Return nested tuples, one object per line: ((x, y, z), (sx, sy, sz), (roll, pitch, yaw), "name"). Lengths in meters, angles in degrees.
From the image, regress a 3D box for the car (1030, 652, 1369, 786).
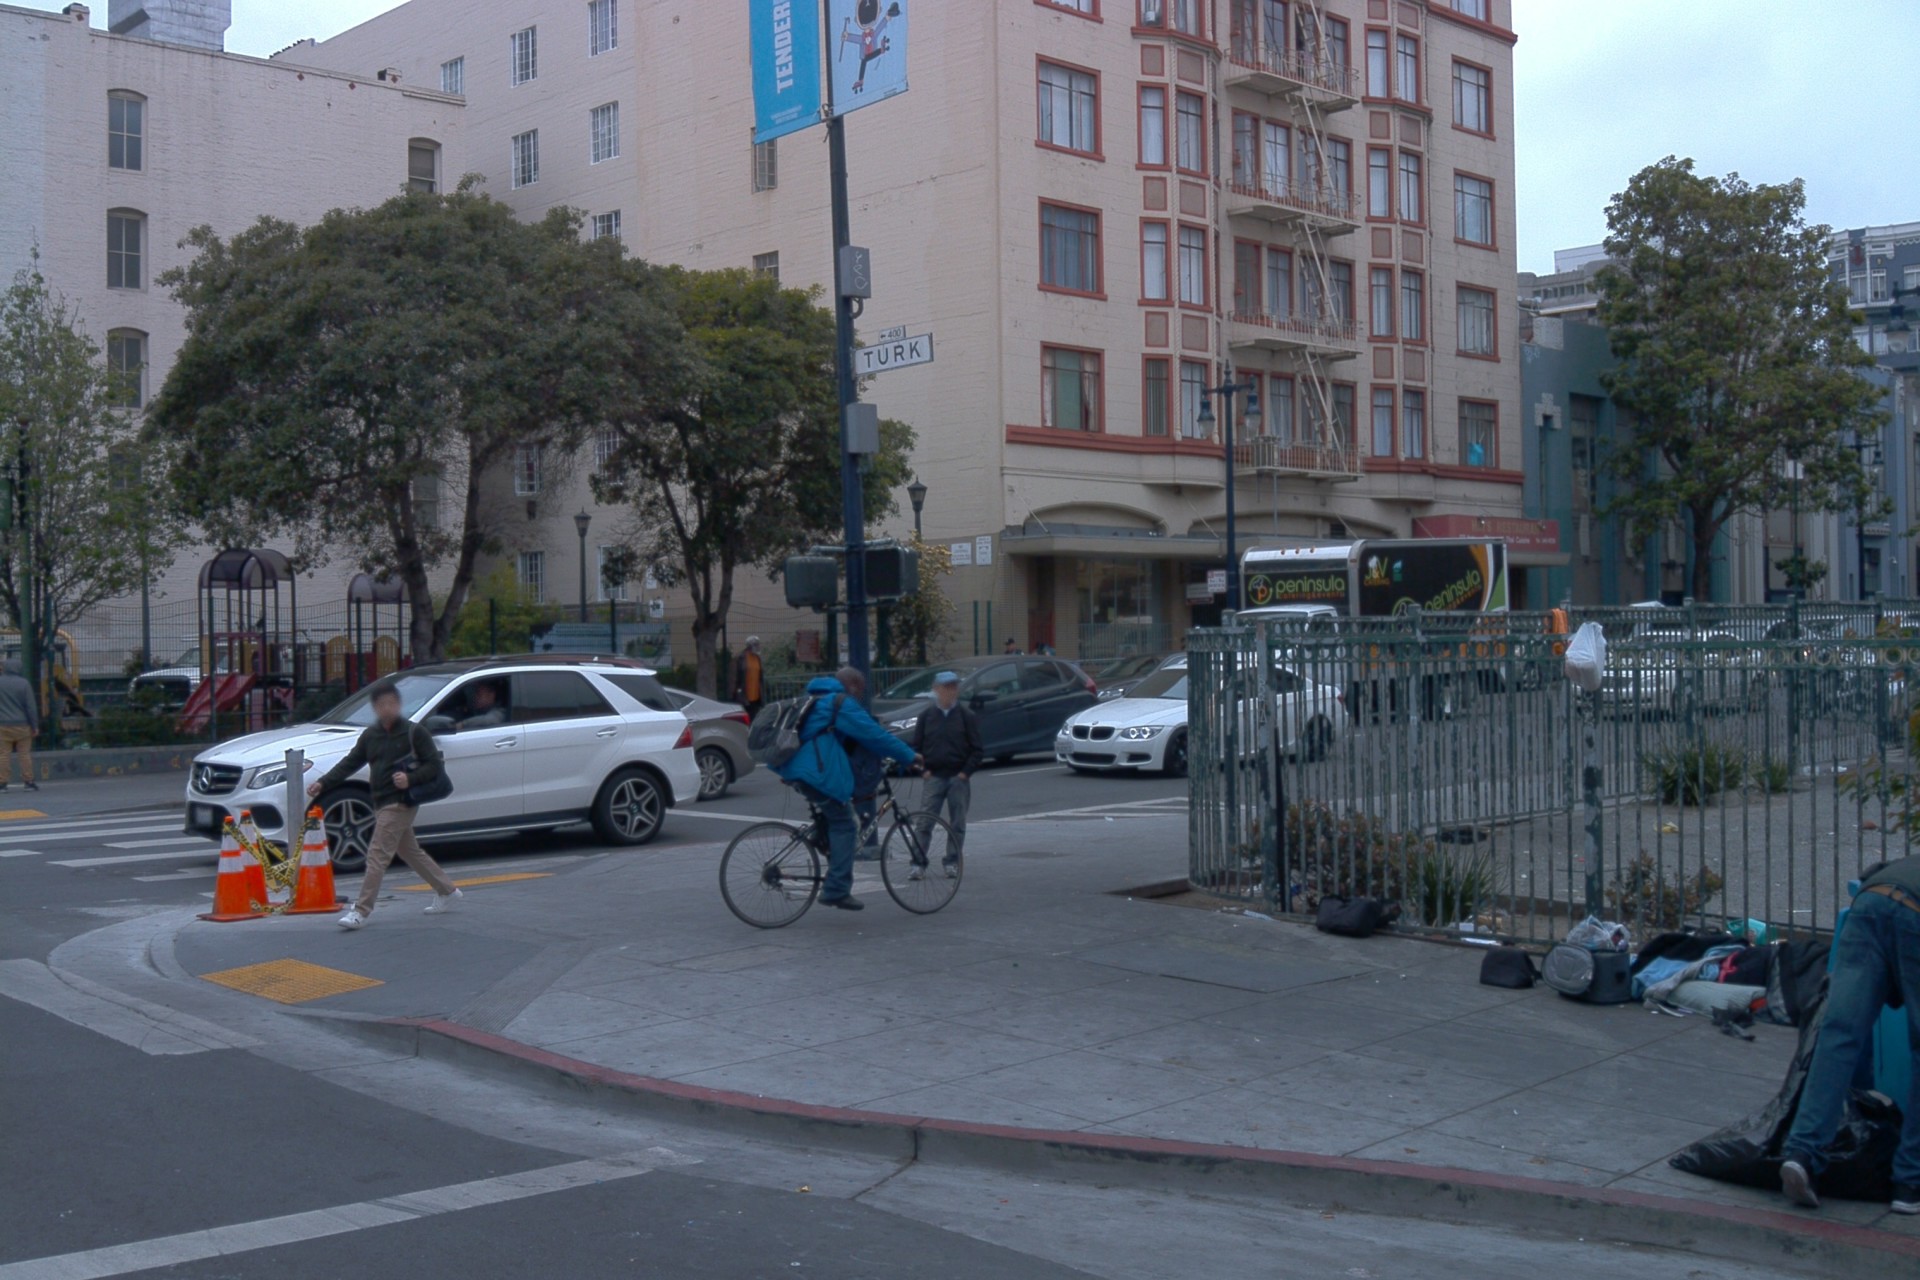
((3.185, 0.952, 26.796), (4.584, 1.520, 1.930), (-1, 1, -45), "car")

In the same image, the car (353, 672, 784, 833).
((-4.349, 1.192, 23.434), (4.454, 1.540, 1.957), (-1, 1, -44), "car")

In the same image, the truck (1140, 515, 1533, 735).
((6.590, -0.267, 35.477), (7.101, 3.420, 2.936), (-1, 1, -43), "truck")

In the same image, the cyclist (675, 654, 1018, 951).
((-0.725, 0.979, 13.304), (1.951, 1.750, 1.013), (0, 1, -30), "cyclist")

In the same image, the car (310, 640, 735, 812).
((-5.591, 1.018, 26.854), (5.045, 1.980, 2.095), (-1, 1, -44), "car")

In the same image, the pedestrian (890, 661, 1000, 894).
((-0.100, 0.998, 15.355), (0.777, 1.670, 0.798), (0, 1, 3), "pedestrian")

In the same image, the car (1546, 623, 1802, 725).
((12.428, 0.525, 35.791), (2.224, 1.630, 5.013), (1, 1, 45), "car")

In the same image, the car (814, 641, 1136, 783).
((0.273, 0.898, 27.984), (4.317, 1.730, 1.853), (-1, 1, -45), "car")

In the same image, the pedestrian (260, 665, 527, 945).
((-3.772, 1.045, 13.798), (1.115, 1.720, 1.309), (0, 1, 38), "pedestrian")

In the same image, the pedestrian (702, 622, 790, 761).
((-3.481, 0.816, 33.542), (1.047, 2.200, 1.032), (-1, 1, -35), "pedestrian")

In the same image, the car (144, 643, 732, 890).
((-4.672, 1.016, 18.990), (4.775, 1.930, 2.184), (-1, 1, -44), "car")
